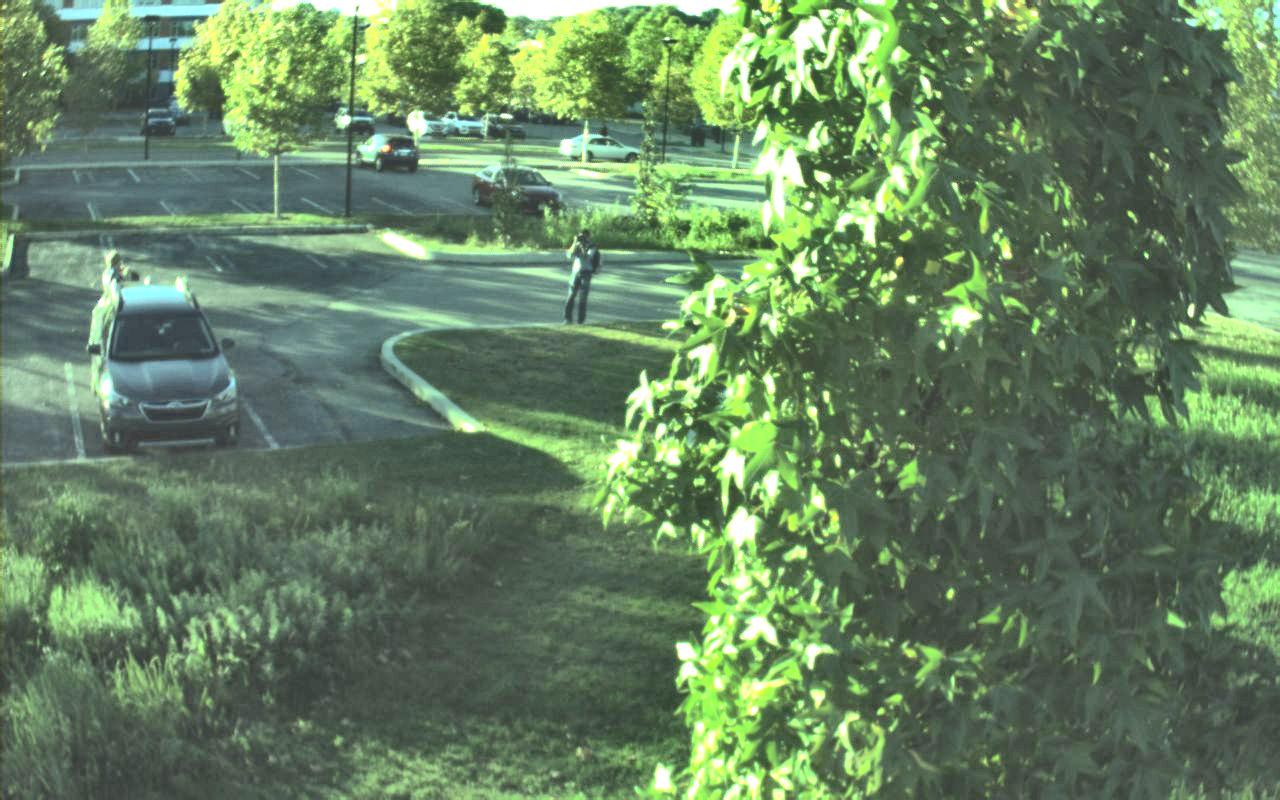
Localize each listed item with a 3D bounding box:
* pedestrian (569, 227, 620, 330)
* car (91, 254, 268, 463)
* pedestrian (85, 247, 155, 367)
[{"bbox_3d":[-0.813,-2.203,22.783,0.806,1.736,0.843,0,14,4],"label":"pedestrian"},{"bbox_3d":[-6.226,-0.695,15.764,2.008,1.626,4.594,-7,17,-22],"label":"car"},{"bbox_3d":[-8.196,-1.439,18.329,0.733,1.737,0.709,5,15,22],"label":"pedestrian"}]
